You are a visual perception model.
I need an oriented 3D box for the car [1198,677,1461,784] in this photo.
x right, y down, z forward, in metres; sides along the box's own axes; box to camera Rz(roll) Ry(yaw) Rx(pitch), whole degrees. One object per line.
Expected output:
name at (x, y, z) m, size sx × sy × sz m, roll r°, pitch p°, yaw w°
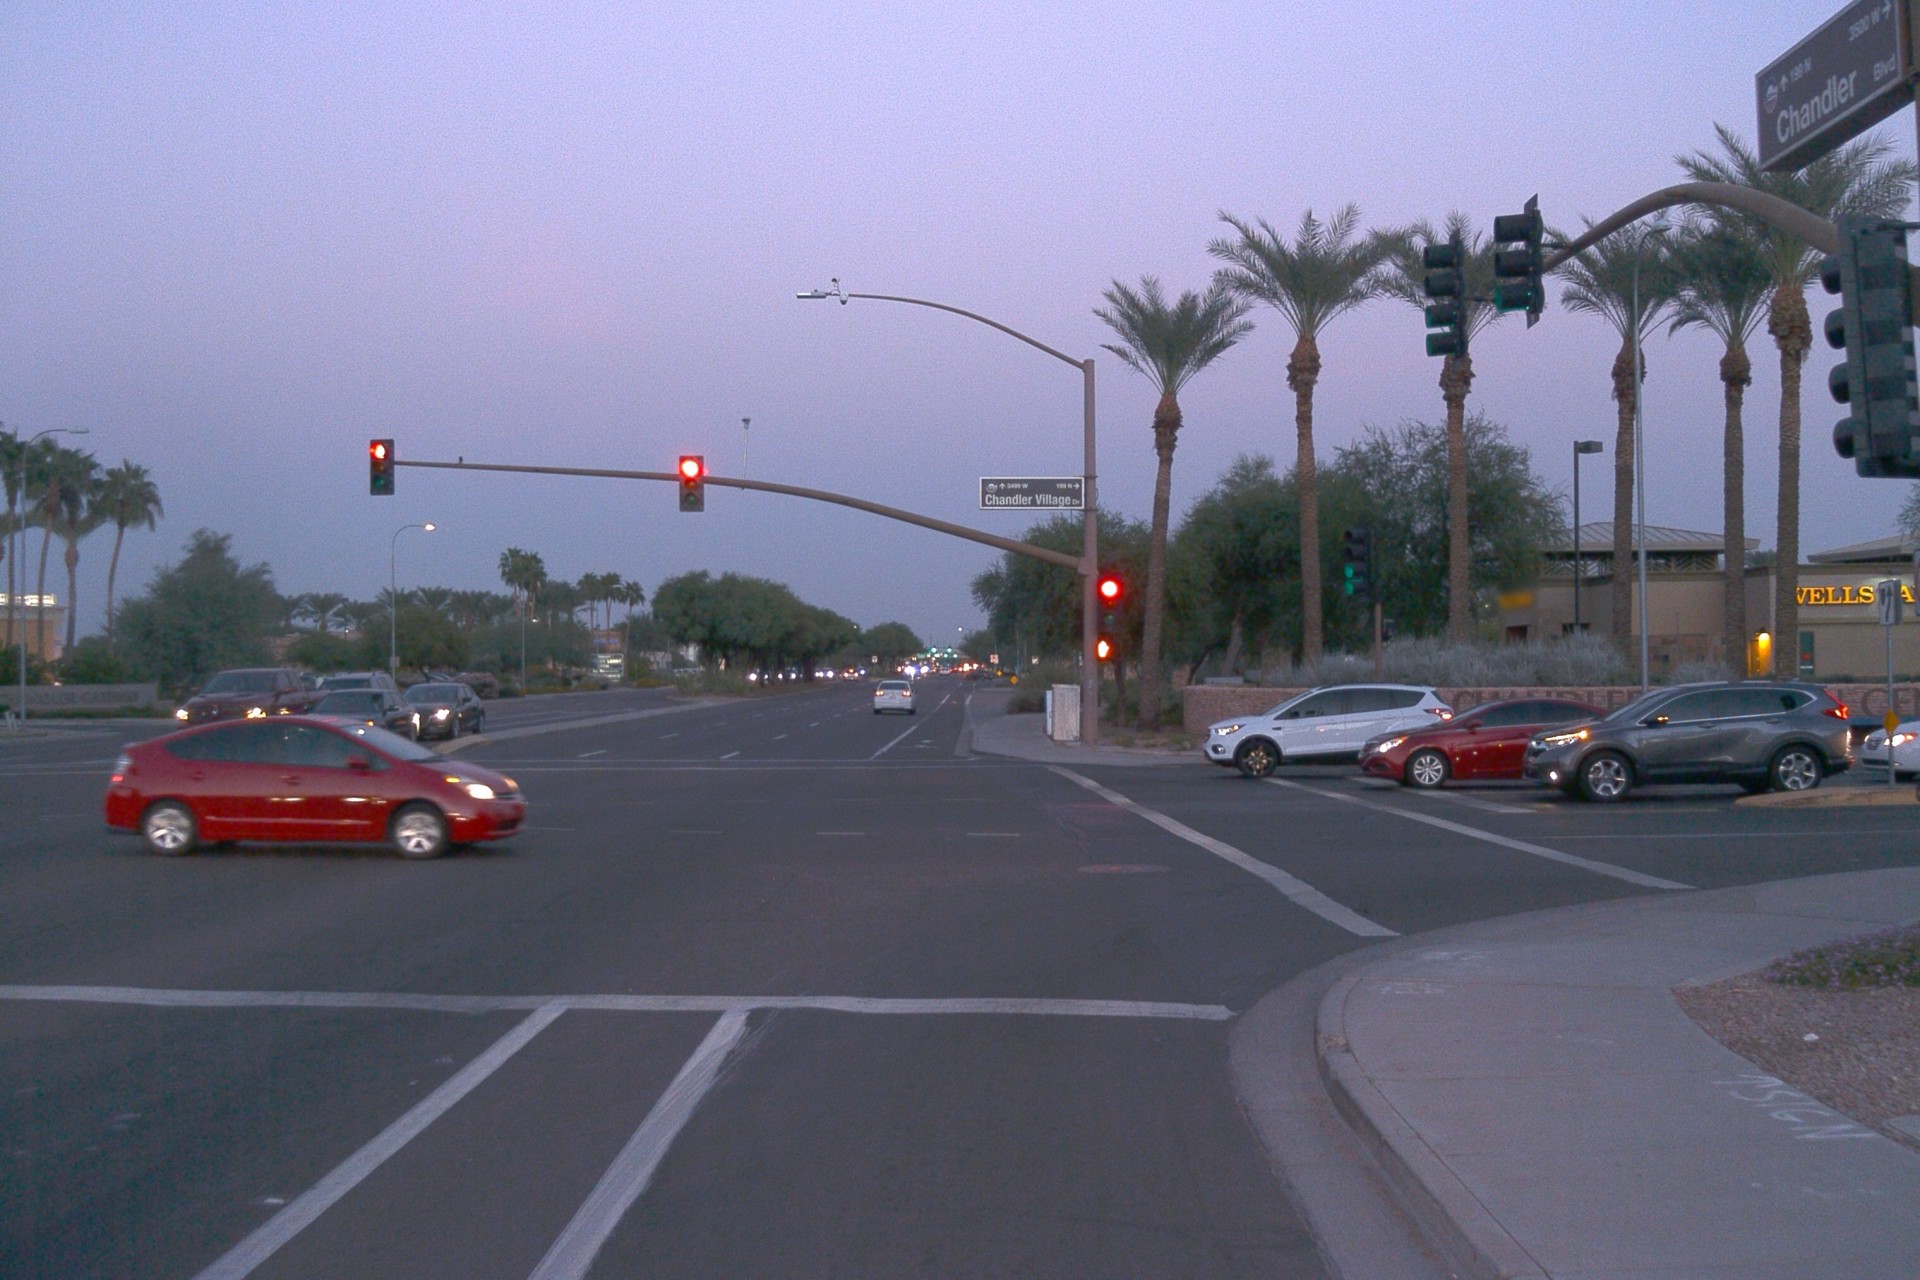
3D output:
car at (6.606, 1.600, 37.582) m, size 4.474 × 1.830 × 1.855 m, roll 1°, pitch -1°, yaw 4°

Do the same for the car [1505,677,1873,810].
car at (10.373, 1.449, 29.929) m, size 4.552 × 1.780 × 2.157 m, roll 1°, pitch -1°, yaw 3°

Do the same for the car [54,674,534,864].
car at (-7.089, 1.344, 22.515) m, size 4.499 × 1.900 × 2.019 m, roll 1°, pitch -1°, yaw 3°

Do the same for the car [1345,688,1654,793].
car at (8.641, 1.594, 33.623) m, size 4.457 × 1.580 × 1.982 m, roll 1°, pitch -1°, yaw -1°
